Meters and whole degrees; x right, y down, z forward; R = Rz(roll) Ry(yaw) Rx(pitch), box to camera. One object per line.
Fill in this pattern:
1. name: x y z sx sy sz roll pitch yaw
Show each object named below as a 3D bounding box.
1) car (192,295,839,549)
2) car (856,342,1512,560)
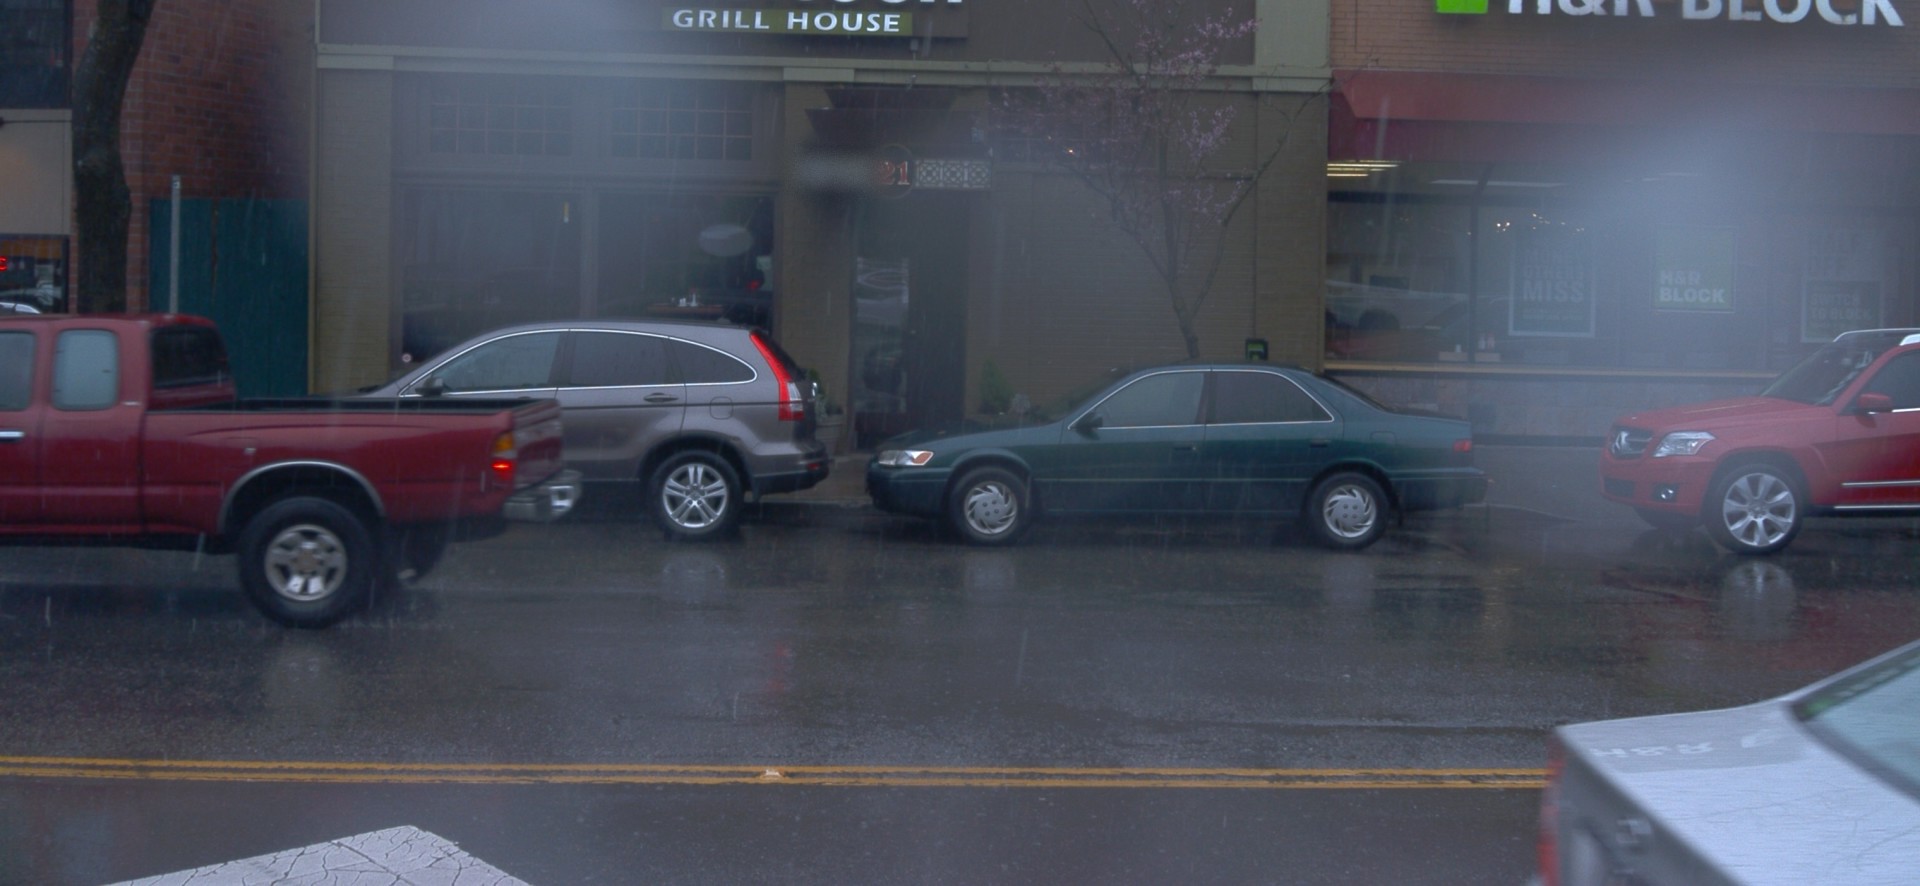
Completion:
1. car: -3.266 -0.208 15.798 4.605 1.724 1.918 0 4 -5
2. car: 1.608 0.019 15.970 4.796 1.414 1.988 1 5 -2
